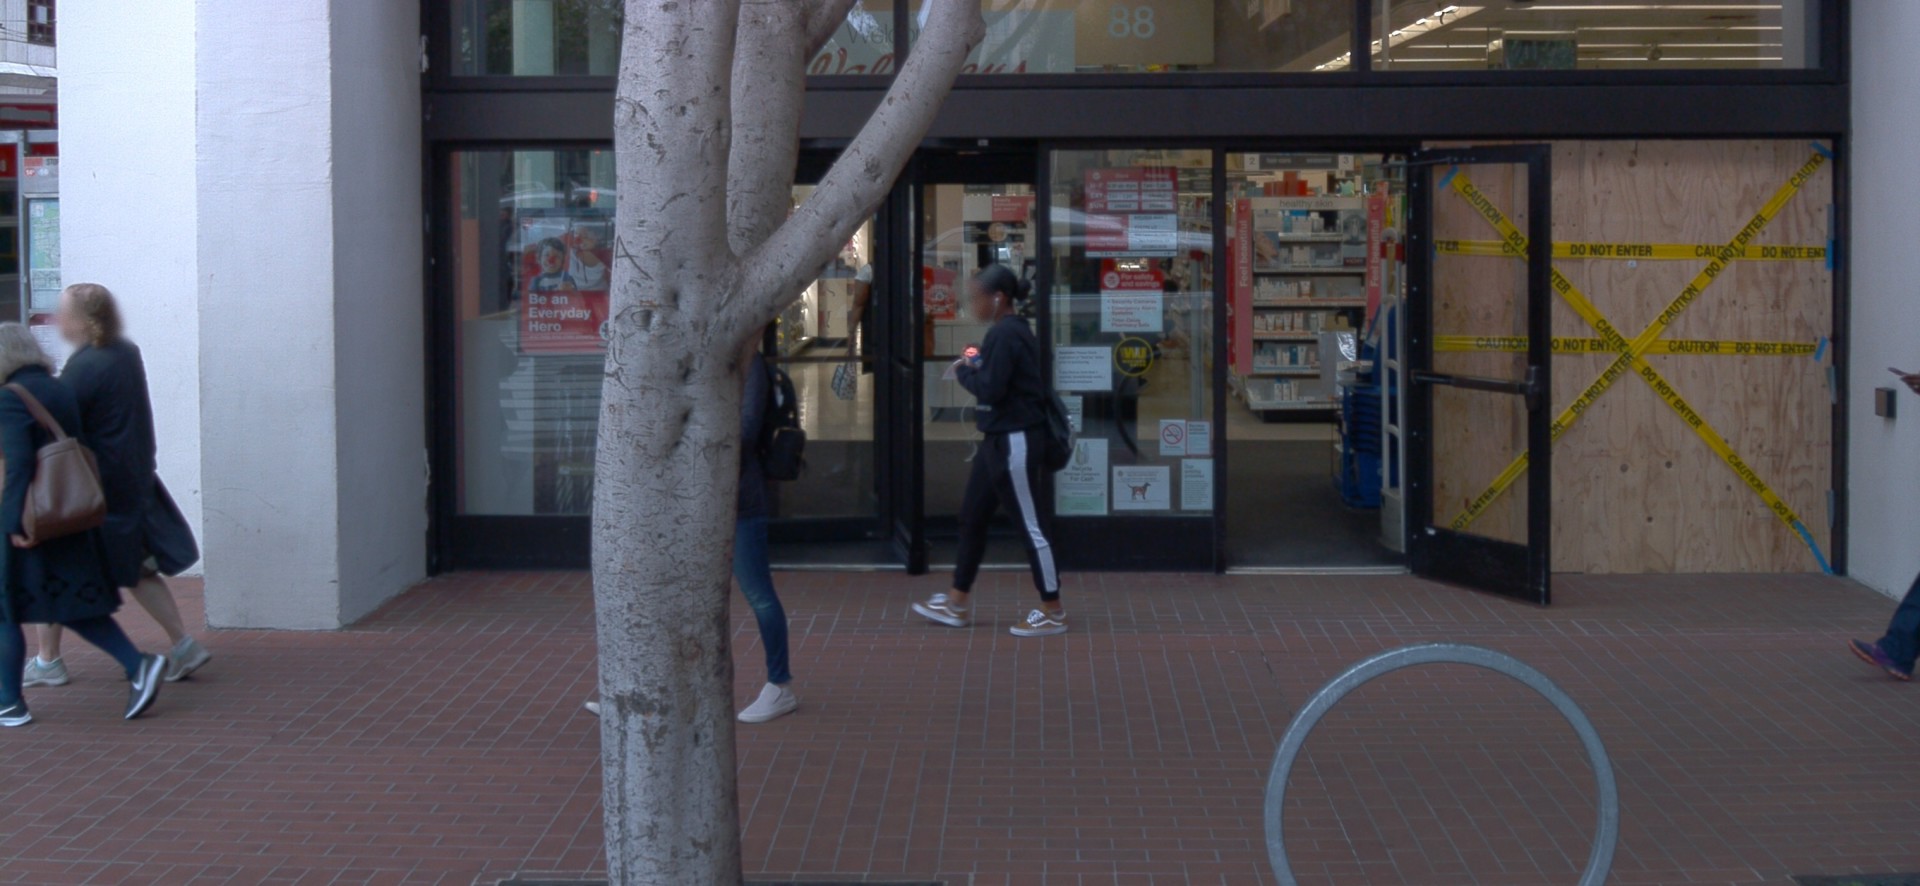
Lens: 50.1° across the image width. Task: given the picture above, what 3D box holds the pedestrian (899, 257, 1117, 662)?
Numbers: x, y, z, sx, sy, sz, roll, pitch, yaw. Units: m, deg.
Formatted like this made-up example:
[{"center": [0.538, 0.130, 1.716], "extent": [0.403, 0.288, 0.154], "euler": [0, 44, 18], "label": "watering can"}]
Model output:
[{"center": [0.189, 0.035, 8.822], "extent": [0.866, 1.655, 0.696], "euler": [0, 1, -5], "label": "pedestrian"}]

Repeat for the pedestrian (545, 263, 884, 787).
[{"center": [-0.885, 0.219, 7.396], "extent": [0.902, 1.715, 0.834], "euler": [-1, 2, -40], "label": "pedestrian"}]
